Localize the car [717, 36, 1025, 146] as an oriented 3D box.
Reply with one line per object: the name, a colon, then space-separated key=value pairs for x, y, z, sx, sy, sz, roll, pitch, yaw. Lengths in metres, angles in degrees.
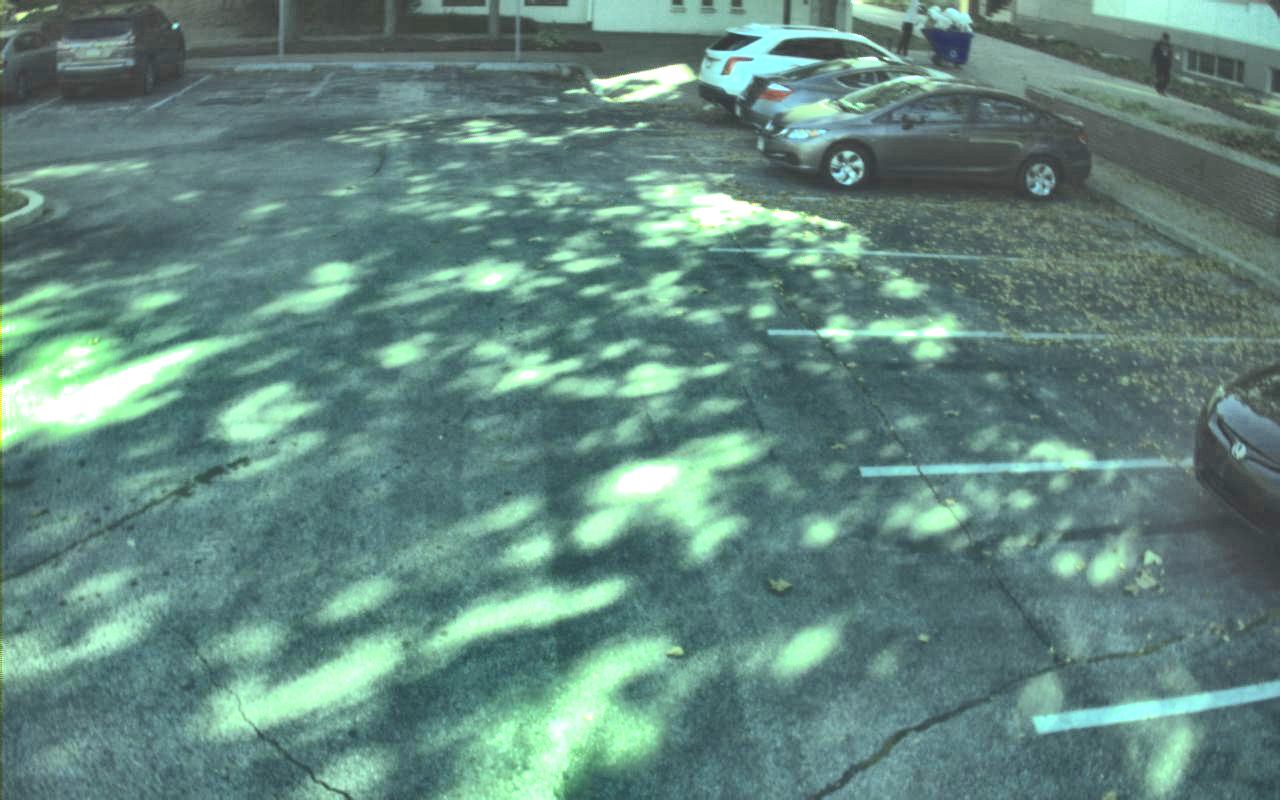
car: x=3.436 y=-4.643 z=18.242 sx=4.299 sy=1.532 sz=1.914 roll=-3 pitch=16 yaw=-8

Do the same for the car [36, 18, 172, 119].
car: x=-10.851 y=-6.732 z=22.968 sx=1.995 sy=1.697 sz=4.565 roll=-4 pitch=17 yaw=-11

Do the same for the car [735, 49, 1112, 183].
car: x=3.722 y=-3.758 z=15.962 sx=4.666 sy=1.569 sz=1.989 roll=-3 pitch=16 yaw=-7

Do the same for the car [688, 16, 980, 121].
car: x=3.256 y=-5.604 z=20.577 sx=4.581 sy=1.662 sz=1.988 roll=-4 pitch=16 yaw=-10

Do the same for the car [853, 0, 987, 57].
car: x=7.142 y=-9.729 z=31.039 sx=1.975 sy=1.605 sz=4.523 roll=-4 pitch=17 yaw=-9
